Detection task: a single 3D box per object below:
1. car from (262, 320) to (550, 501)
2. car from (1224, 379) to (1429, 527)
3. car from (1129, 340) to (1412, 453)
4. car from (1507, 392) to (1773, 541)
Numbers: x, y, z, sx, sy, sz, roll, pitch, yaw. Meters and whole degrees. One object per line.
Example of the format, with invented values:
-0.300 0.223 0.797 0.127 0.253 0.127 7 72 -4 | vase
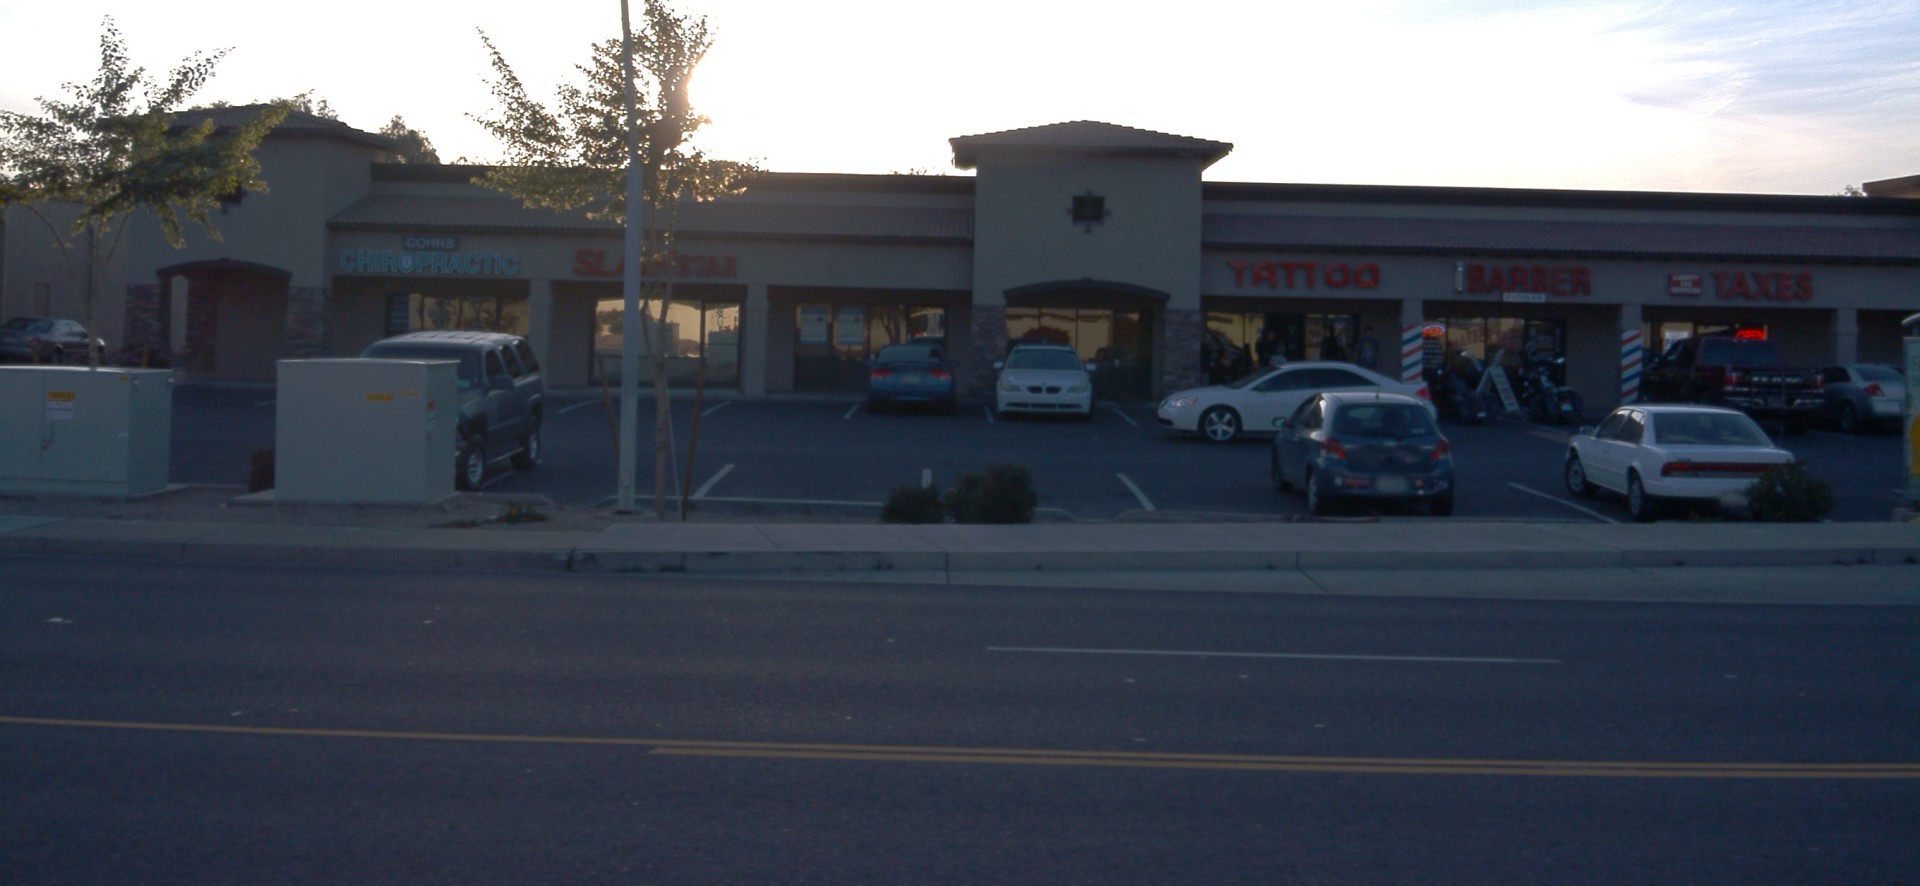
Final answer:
-7.104 -0.545 26.960 2.379 1.944 5.086 1 4 0 | car
4.687 0.052 26.781 1.931 1.496 4.102 1 5 0 | car
5.489 -0.870 36.763 4.788 1.769 2.139 1 3 2 | car
8.668 0.213 26.571 2.073 1.395 4.693 1 5 3 | car
